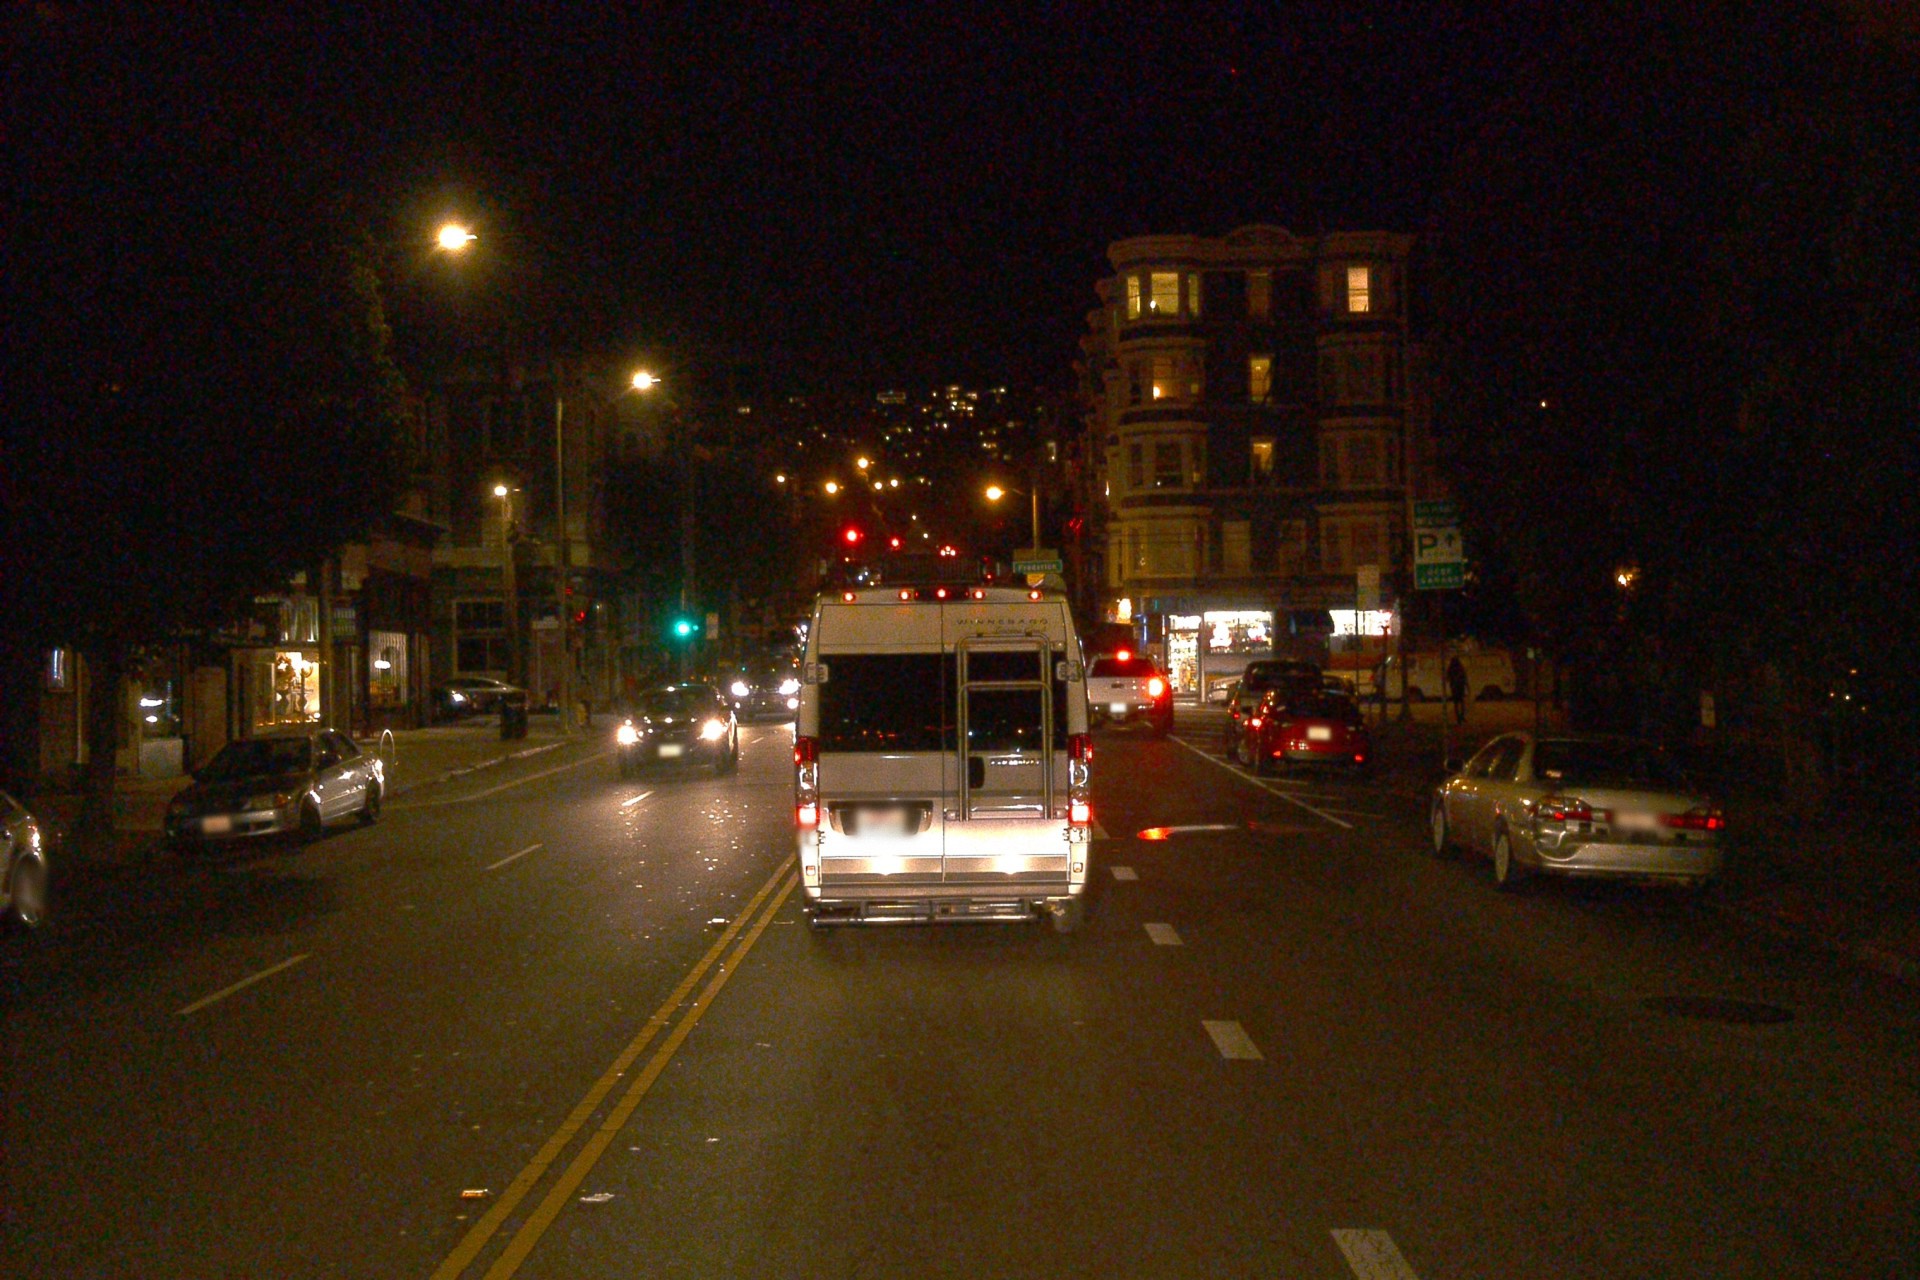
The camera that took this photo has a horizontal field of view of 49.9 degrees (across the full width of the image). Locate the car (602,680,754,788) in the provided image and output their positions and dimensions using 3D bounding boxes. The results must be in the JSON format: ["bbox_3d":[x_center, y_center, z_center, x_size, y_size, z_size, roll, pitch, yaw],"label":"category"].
[{"bbox_3d":[-4.837,1.578,36.064,2.219,1.660,4.679,0,0,-3],"label":"car"}]

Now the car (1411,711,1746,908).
[{"bbox_3d":[5.571,1.465,19.242,1.867,1.430,4.637,0,0,2],"label":"car"}]

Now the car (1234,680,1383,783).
[{"bbox_3d":[5.674,1.458,34.116,1.963,1.500,4.260,0,0,3],"label":"car"}]

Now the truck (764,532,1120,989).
[{"bbox_3d":[-0.107,0.783,16.141,2.338,3.000,5.110,0,0,0],"label":"truck"}]

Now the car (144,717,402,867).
[{"bbox_3d":[-8.740,1.881,26.691,1.850,1.600,4.445,0,0,0],"label":"car"}]
